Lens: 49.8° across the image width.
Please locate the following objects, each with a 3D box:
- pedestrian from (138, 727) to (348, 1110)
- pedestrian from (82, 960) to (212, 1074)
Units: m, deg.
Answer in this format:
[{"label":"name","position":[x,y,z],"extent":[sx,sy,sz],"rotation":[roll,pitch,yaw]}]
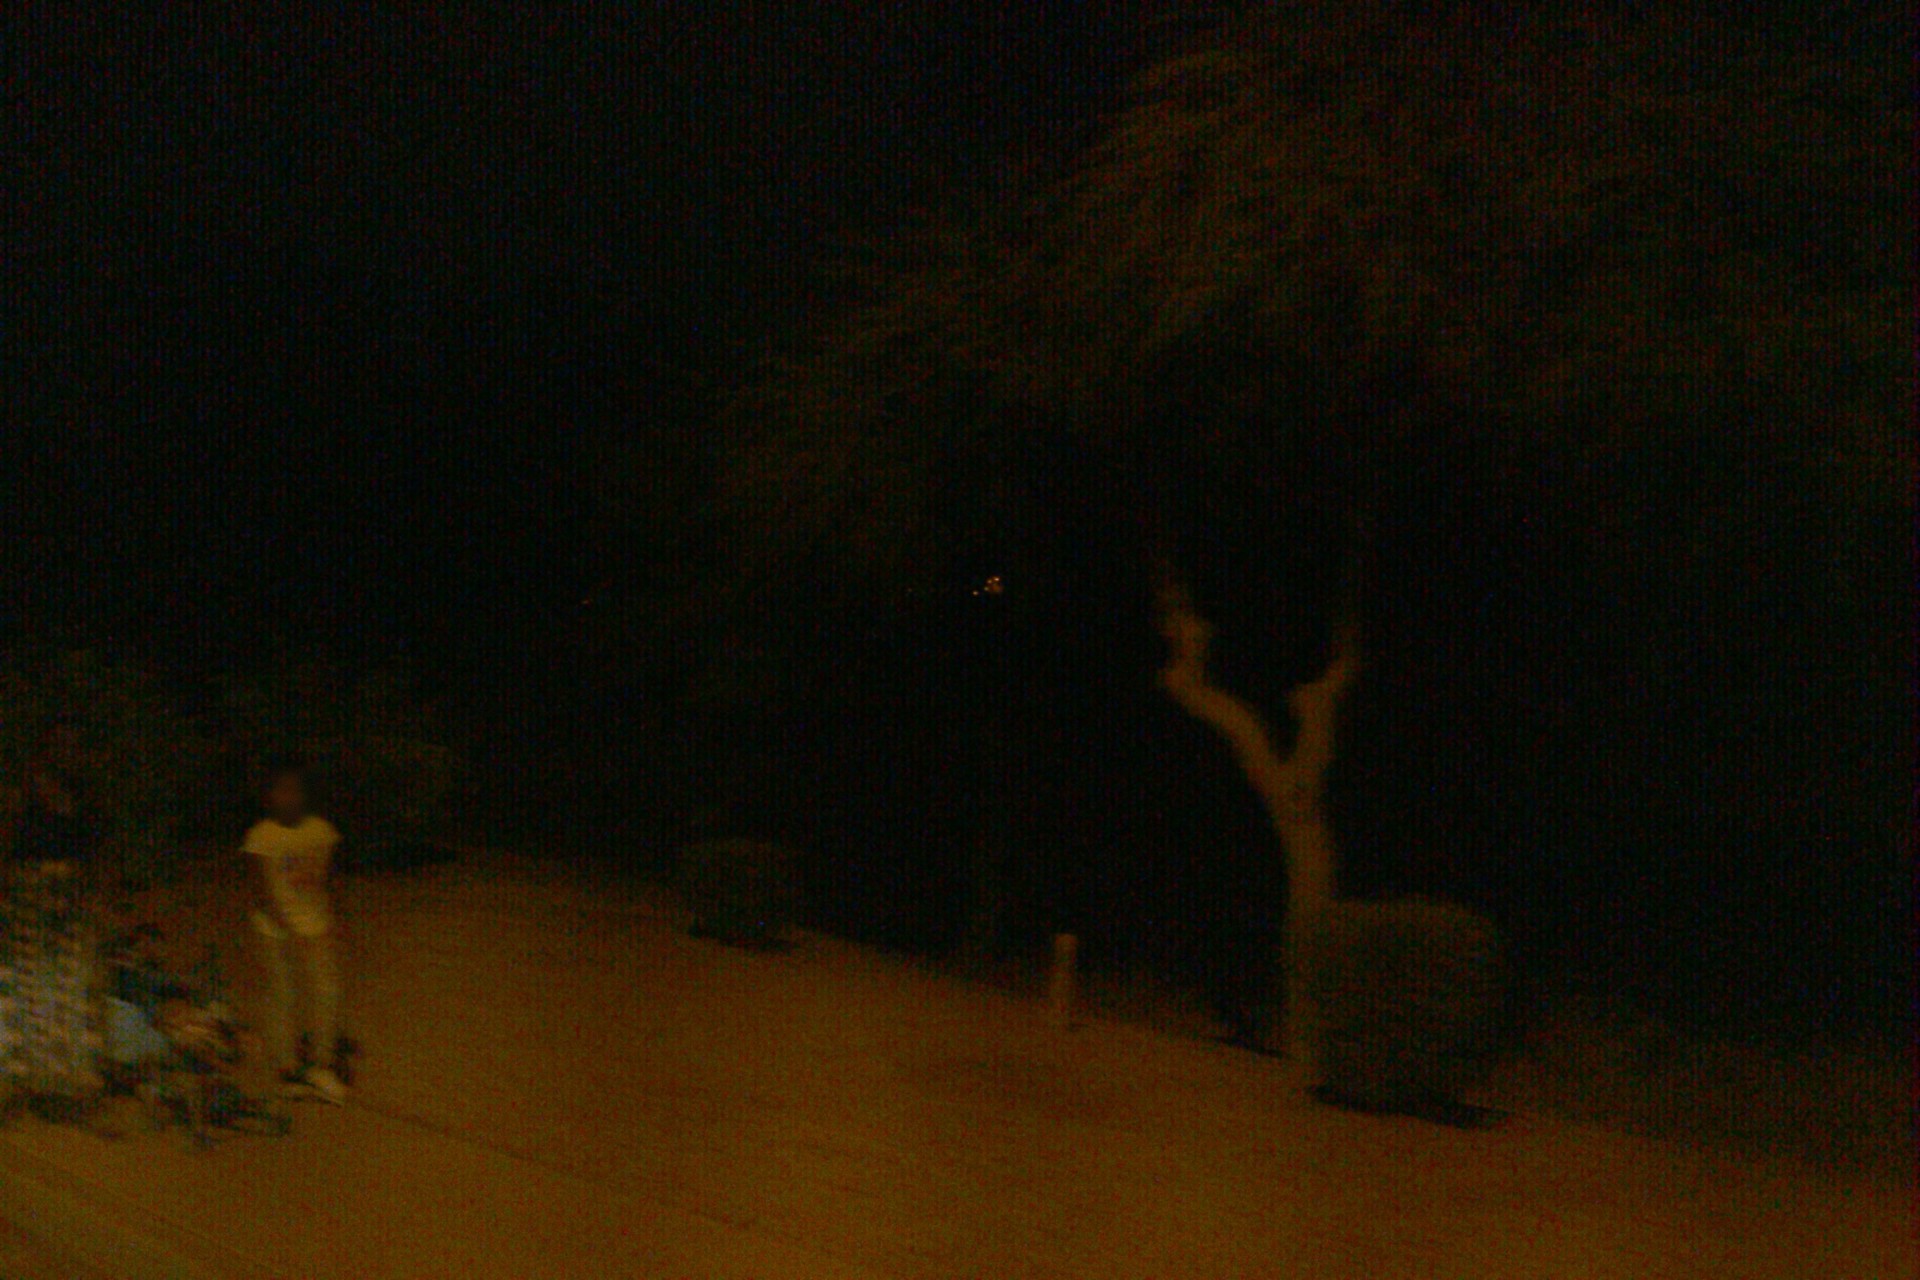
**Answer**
[{"label":"pedestrian","position":[-3.093,1.158,8.917],"extent":[0.686,1.540,0.599],"rotation":[1,0,44]},{"label":"pedestrian","position":[-3.348,1.543,8.513],"extent":[0.506,0.370,0.304],"rotation":[0,0,43]}]
